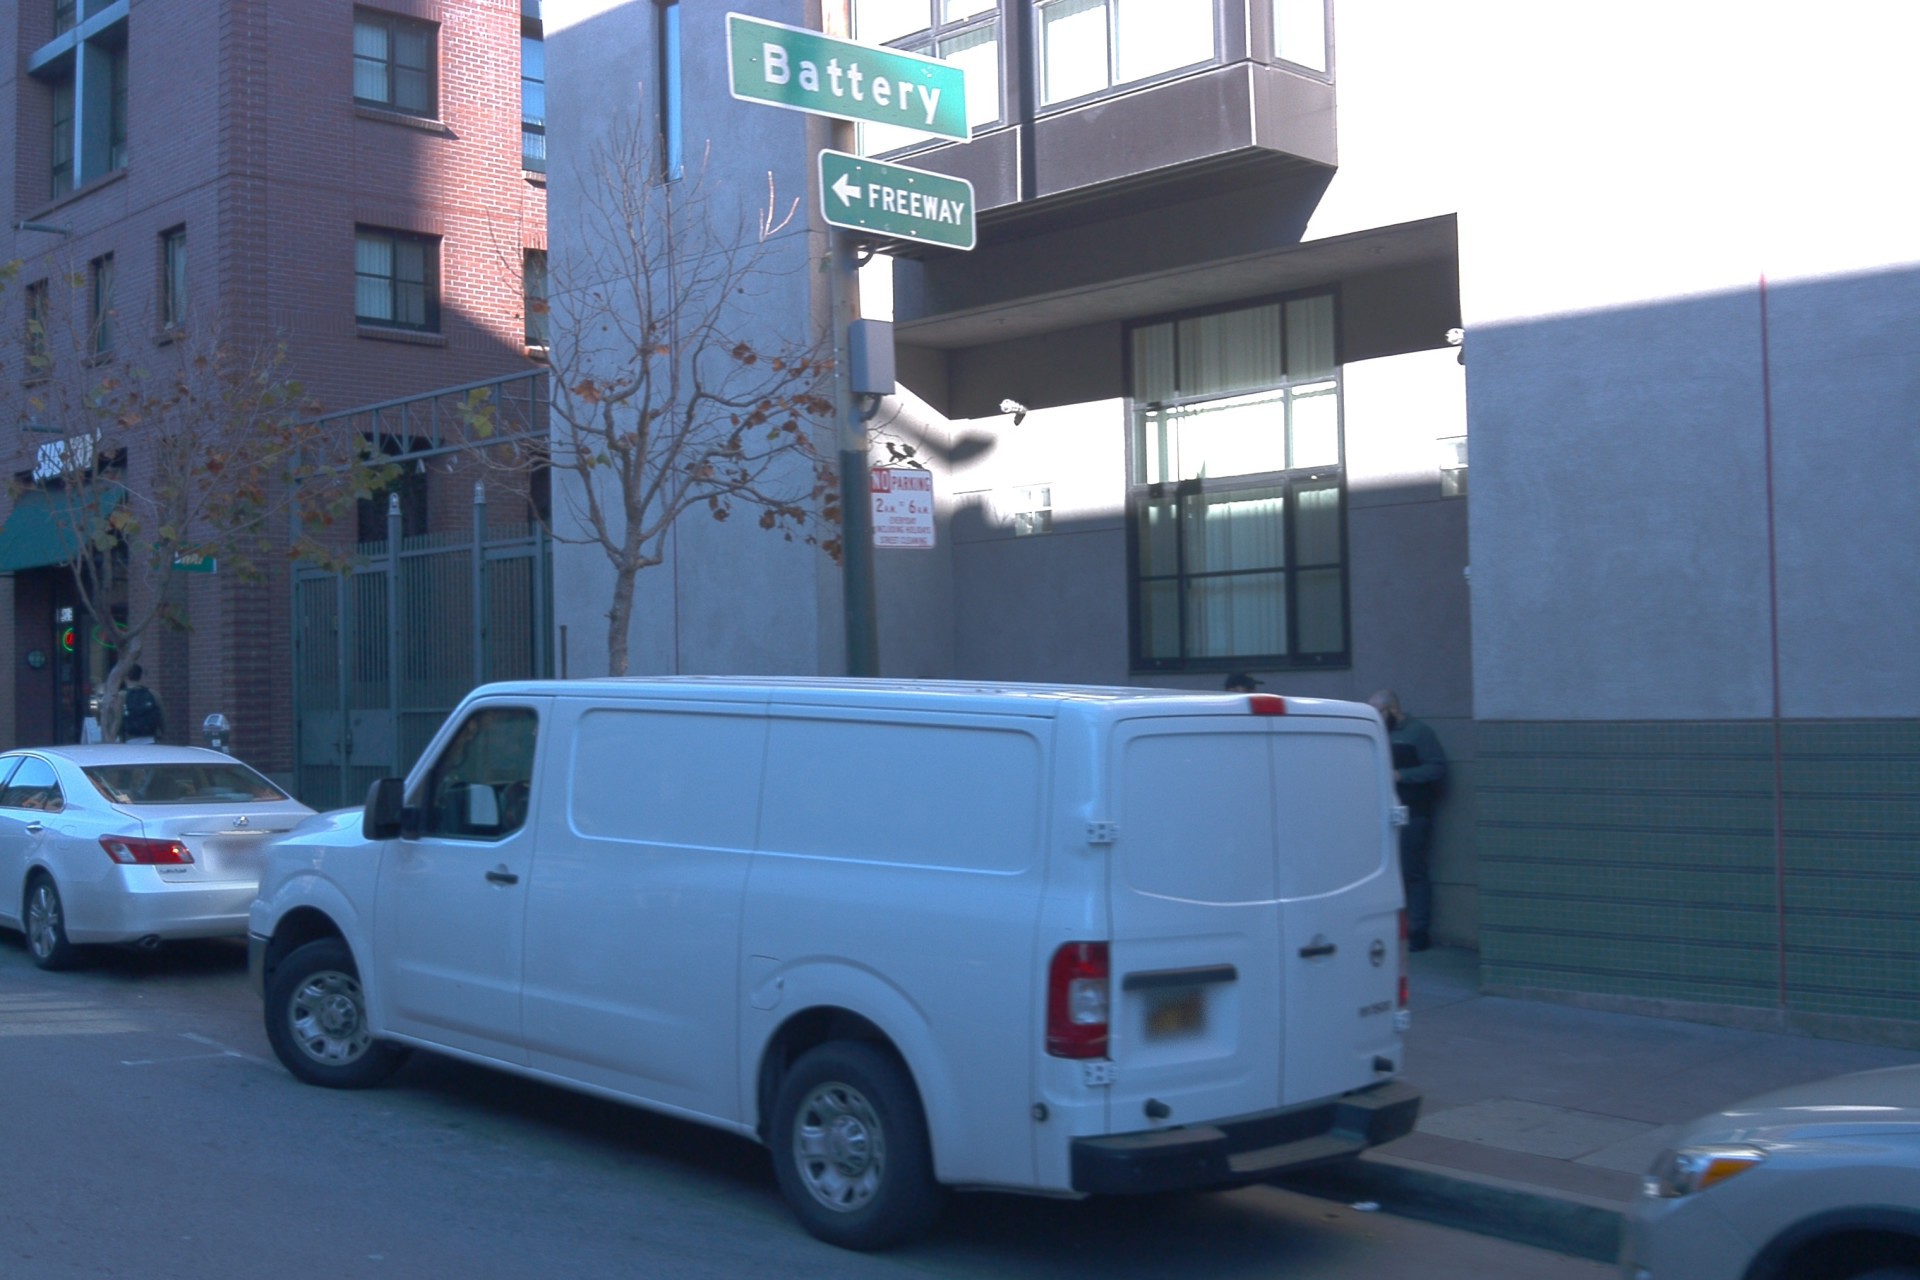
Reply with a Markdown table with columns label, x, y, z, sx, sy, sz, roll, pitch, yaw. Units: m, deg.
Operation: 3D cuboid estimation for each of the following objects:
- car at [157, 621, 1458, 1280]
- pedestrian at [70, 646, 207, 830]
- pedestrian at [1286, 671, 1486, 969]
| label | x | y | z | sx | sy | sz | roll | pitch | yaw |
| --- | --- | --- | --- | --- | --- | --- | --- | --- | --- |
| car | -1.103 | 1.129 | 9.630 | 6.185 | 2.340 | 2.518 | 0 | 0 | 44 |
| pedestrian | -8.949 | 1.038 | 22.715 | 1.153 | 1.930 | 0.992 | 0 | 0 | 45 |
| pedestrian | 2.900 | 1.174 | 14.155 | 1.102 | 1.910 | 0.961 | 0 | 0 | 27 |
